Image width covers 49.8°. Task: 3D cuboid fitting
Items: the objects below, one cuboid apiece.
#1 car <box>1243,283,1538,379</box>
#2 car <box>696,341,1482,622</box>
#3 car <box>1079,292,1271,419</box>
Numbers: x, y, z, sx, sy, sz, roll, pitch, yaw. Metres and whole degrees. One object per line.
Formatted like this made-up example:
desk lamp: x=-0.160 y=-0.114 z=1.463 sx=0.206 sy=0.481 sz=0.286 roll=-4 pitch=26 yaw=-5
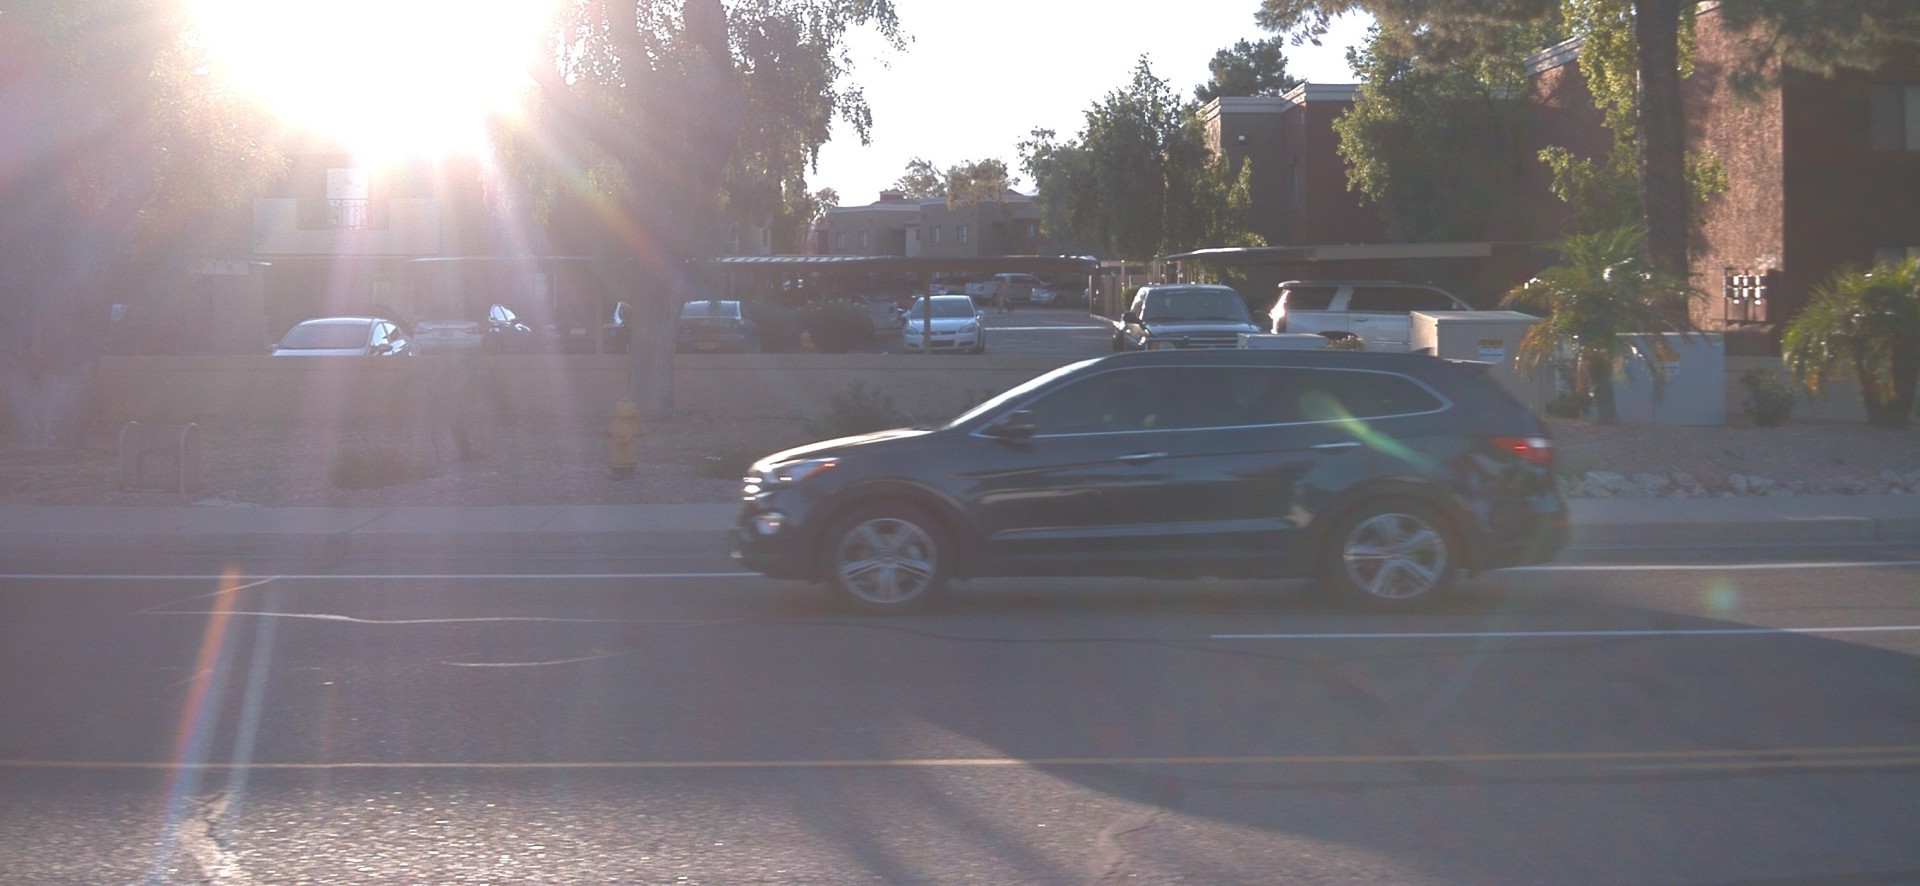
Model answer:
car: x=7.839 y=-2.093 z=38.106 sx=5.160 sy=1.616 sz=2.068 roll=1 pitch=4 yaw=6
car: x=0.800 y=0.188 z=13.693 sx=4.811 sy=1.596 sz=2.045 roll=0 pitch=4 yaw=0
car: x=3.388 y=-1.536 z=33.989 sx=2.521 sy=1.692 sz=6.256 roll=0 pitch=6 yaw=0
